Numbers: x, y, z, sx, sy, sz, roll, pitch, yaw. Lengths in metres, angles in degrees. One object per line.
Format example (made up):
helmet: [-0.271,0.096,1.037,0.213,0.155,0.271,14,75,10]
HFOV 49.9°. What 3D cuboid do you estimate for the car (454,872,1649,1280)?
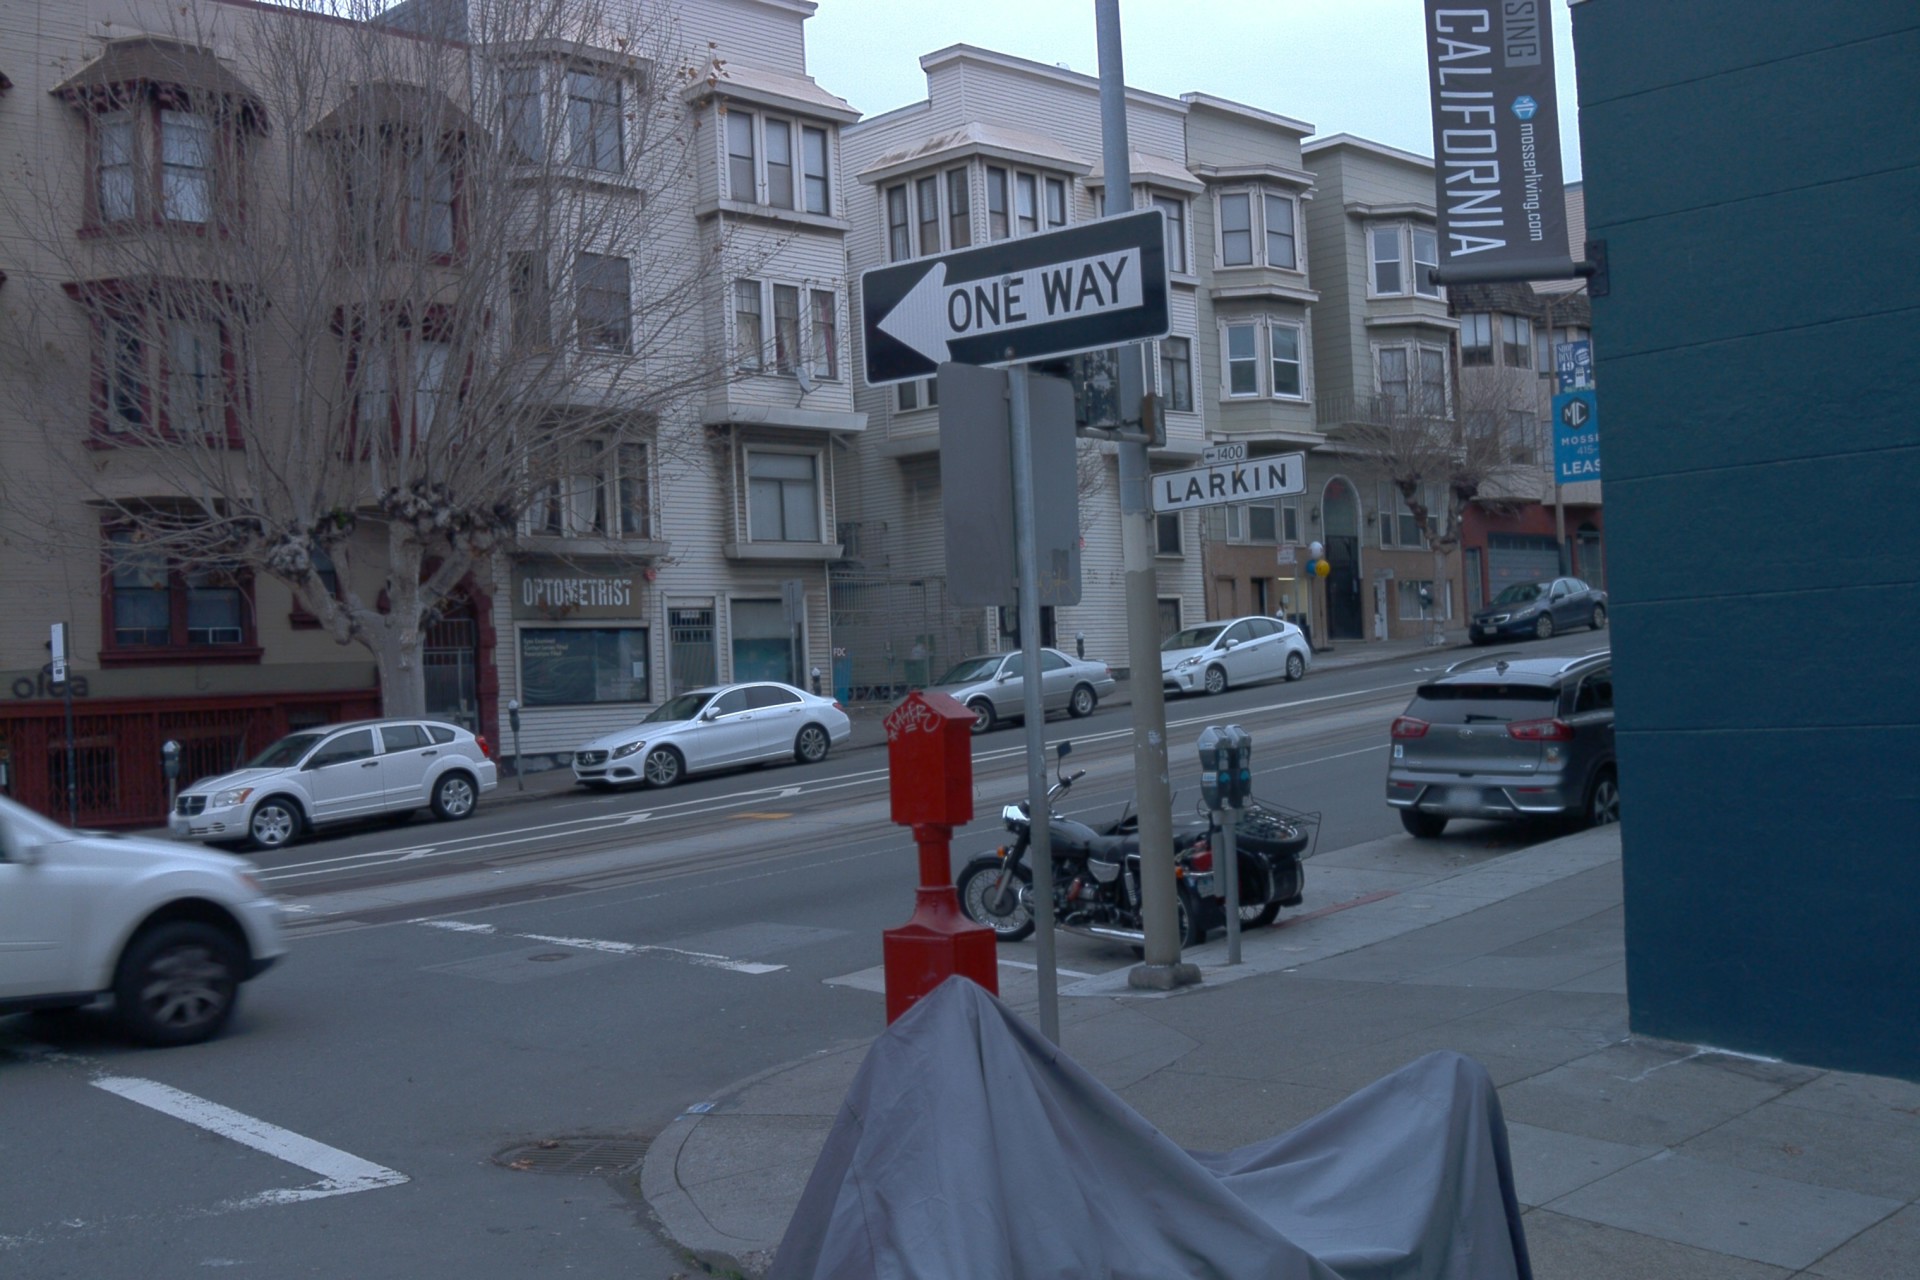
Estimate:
car: [0.332,1.393,4.286,2.490,1.520,1.048,-1,1,-44]

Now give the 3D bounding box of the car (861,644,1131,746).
car: [0.712,0.928,37.120,4.801,1.657,2.084,-1,1,-45]

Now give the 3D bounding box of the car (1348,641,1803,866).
car: [5.645,0.888,18.583,2.132,1.717,4.606,0,1,42]

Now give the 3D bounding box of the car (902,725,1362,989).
car: [1.133,1.381,14.055,2.745,1.460,1.540,0,1,42]

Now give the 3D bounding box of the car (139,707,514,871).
car: [-8.482,1.923,27.919,2.053,1.847,4.407,1,1,44]

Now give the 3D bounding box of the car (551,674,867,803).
car: [-3.872,1.472,32.361,4.589,1.757,2.074,-1,1,-44]
